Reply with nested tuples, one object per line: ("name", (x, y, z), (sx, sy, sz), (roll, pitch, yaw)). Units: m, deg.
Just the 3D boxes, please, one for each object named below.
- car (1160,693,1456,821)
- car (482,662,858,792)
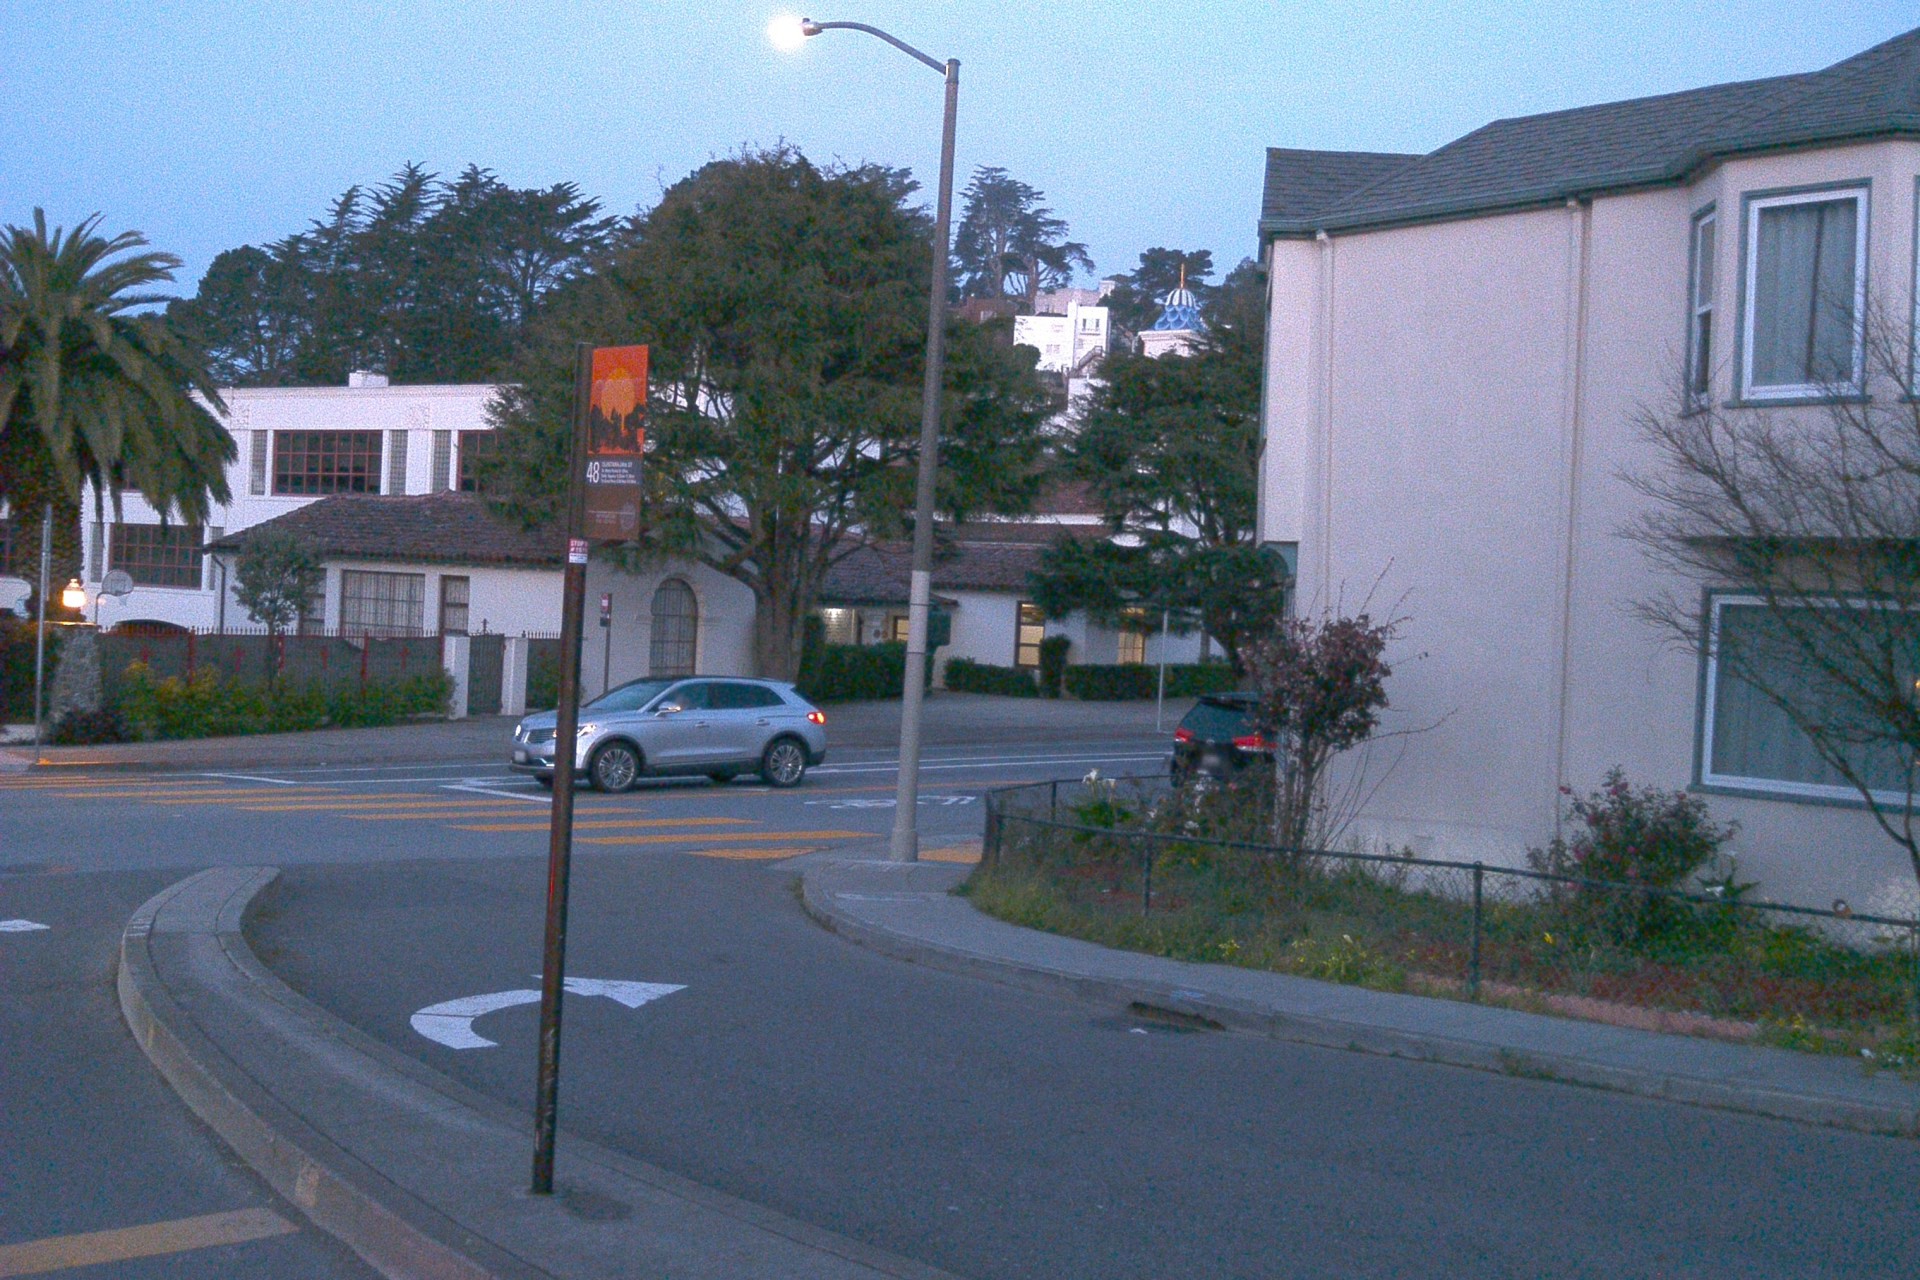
("car", (5.027, 1.631, 30.201), (3.819, 1.660, 2.058), (1, 0, -34))
("car", (-4.179, 1.205, 30.665), (5.027, 1.730, 2.150), (1, 0, -39))
